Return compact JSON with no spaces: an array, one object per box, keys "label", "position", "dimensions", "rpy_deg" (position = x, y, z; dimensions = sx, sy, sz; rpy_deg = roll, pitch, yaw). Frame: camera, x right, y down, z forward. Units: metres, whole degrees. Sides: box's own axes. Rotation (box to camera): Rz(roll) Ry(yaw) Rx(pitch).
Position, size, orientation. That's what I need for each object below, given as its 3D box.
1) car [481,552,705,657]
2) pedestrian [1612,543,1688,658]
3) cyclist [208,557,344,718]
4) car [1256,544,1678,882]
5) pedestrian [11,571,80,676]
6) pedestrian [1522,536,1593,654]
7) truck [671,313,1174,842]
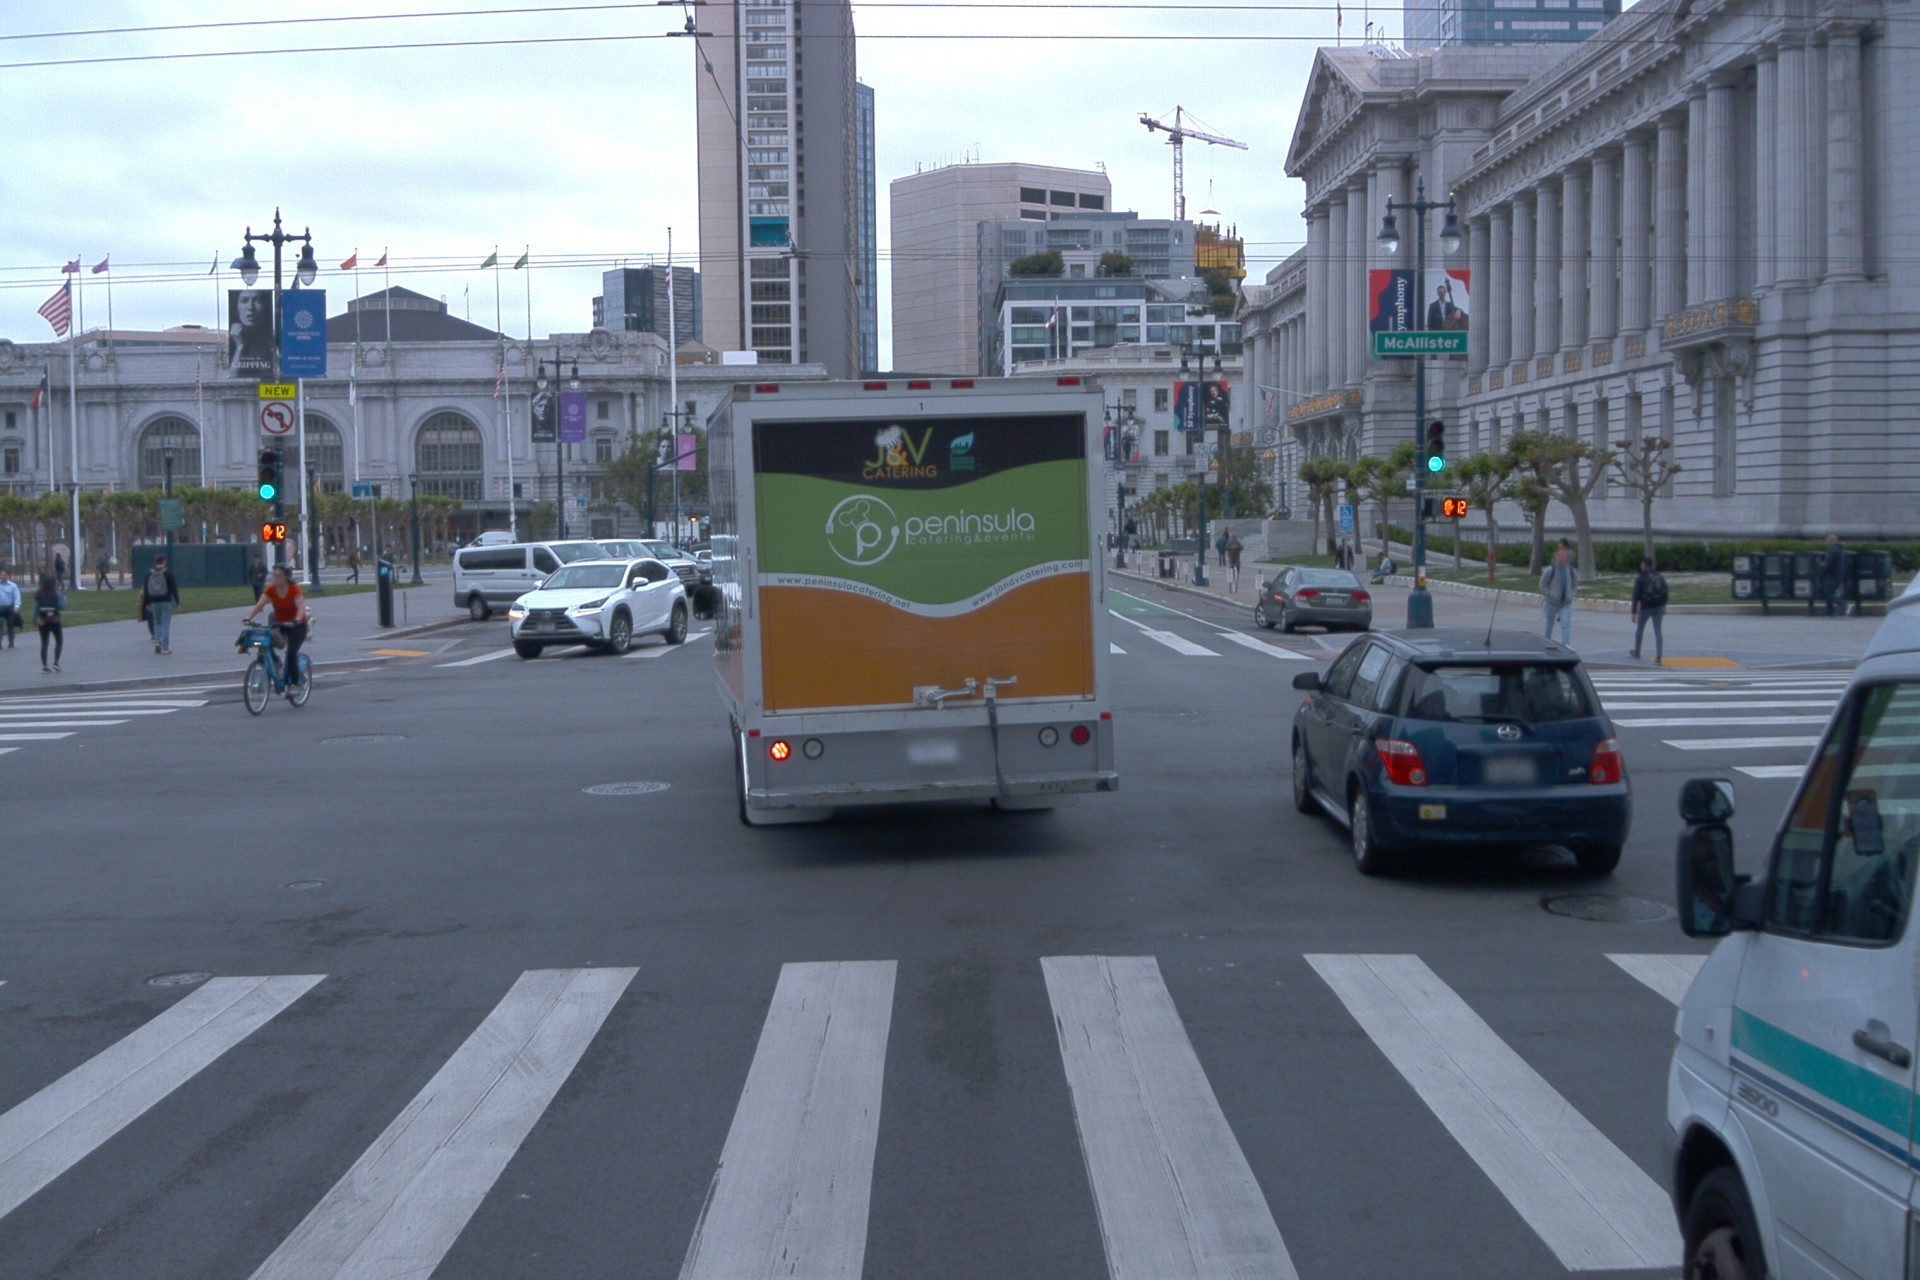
[{"label":"car","position":[-6.215,-0.609,35.460],"dimensions":[2.190,1.692,4.584],"rpy_deg":[0,1,13]},{"label":"pedestrian","position":[10.703,-0.612,31.909],"dimensions":[0.831,1.760,0.935],"rpy_deg":[0,1,-3]},{"label":"cyclist","position":[-8.191,-0.044,24.707],"dimensions":[0.829,1.850,1.925],"rpy_deg":[0,1,6]},{"label":"car","position":[3.291,0.402,14.187],"dimensions":[1.934,1.990,4.031],"rpy_deg":[0,1,1]},{"label":"pedestrian","position":[-15.350,-0.277,34.521],"dimensions":[0.792,1.734,0.967],"rpy_deg":[0,1,-6]},{"label":"pedestrian","position":[9.512,-0.711,32.765],"dimensions":[0.811,1.850,1.153],"rpy_deg":[0,1,1]},{"label":"truck","position":[-0.711,-0.454,16.656],"dimensions":[2.913,3.300,7.296],"rpy_deg":[0,1,-10]}]
